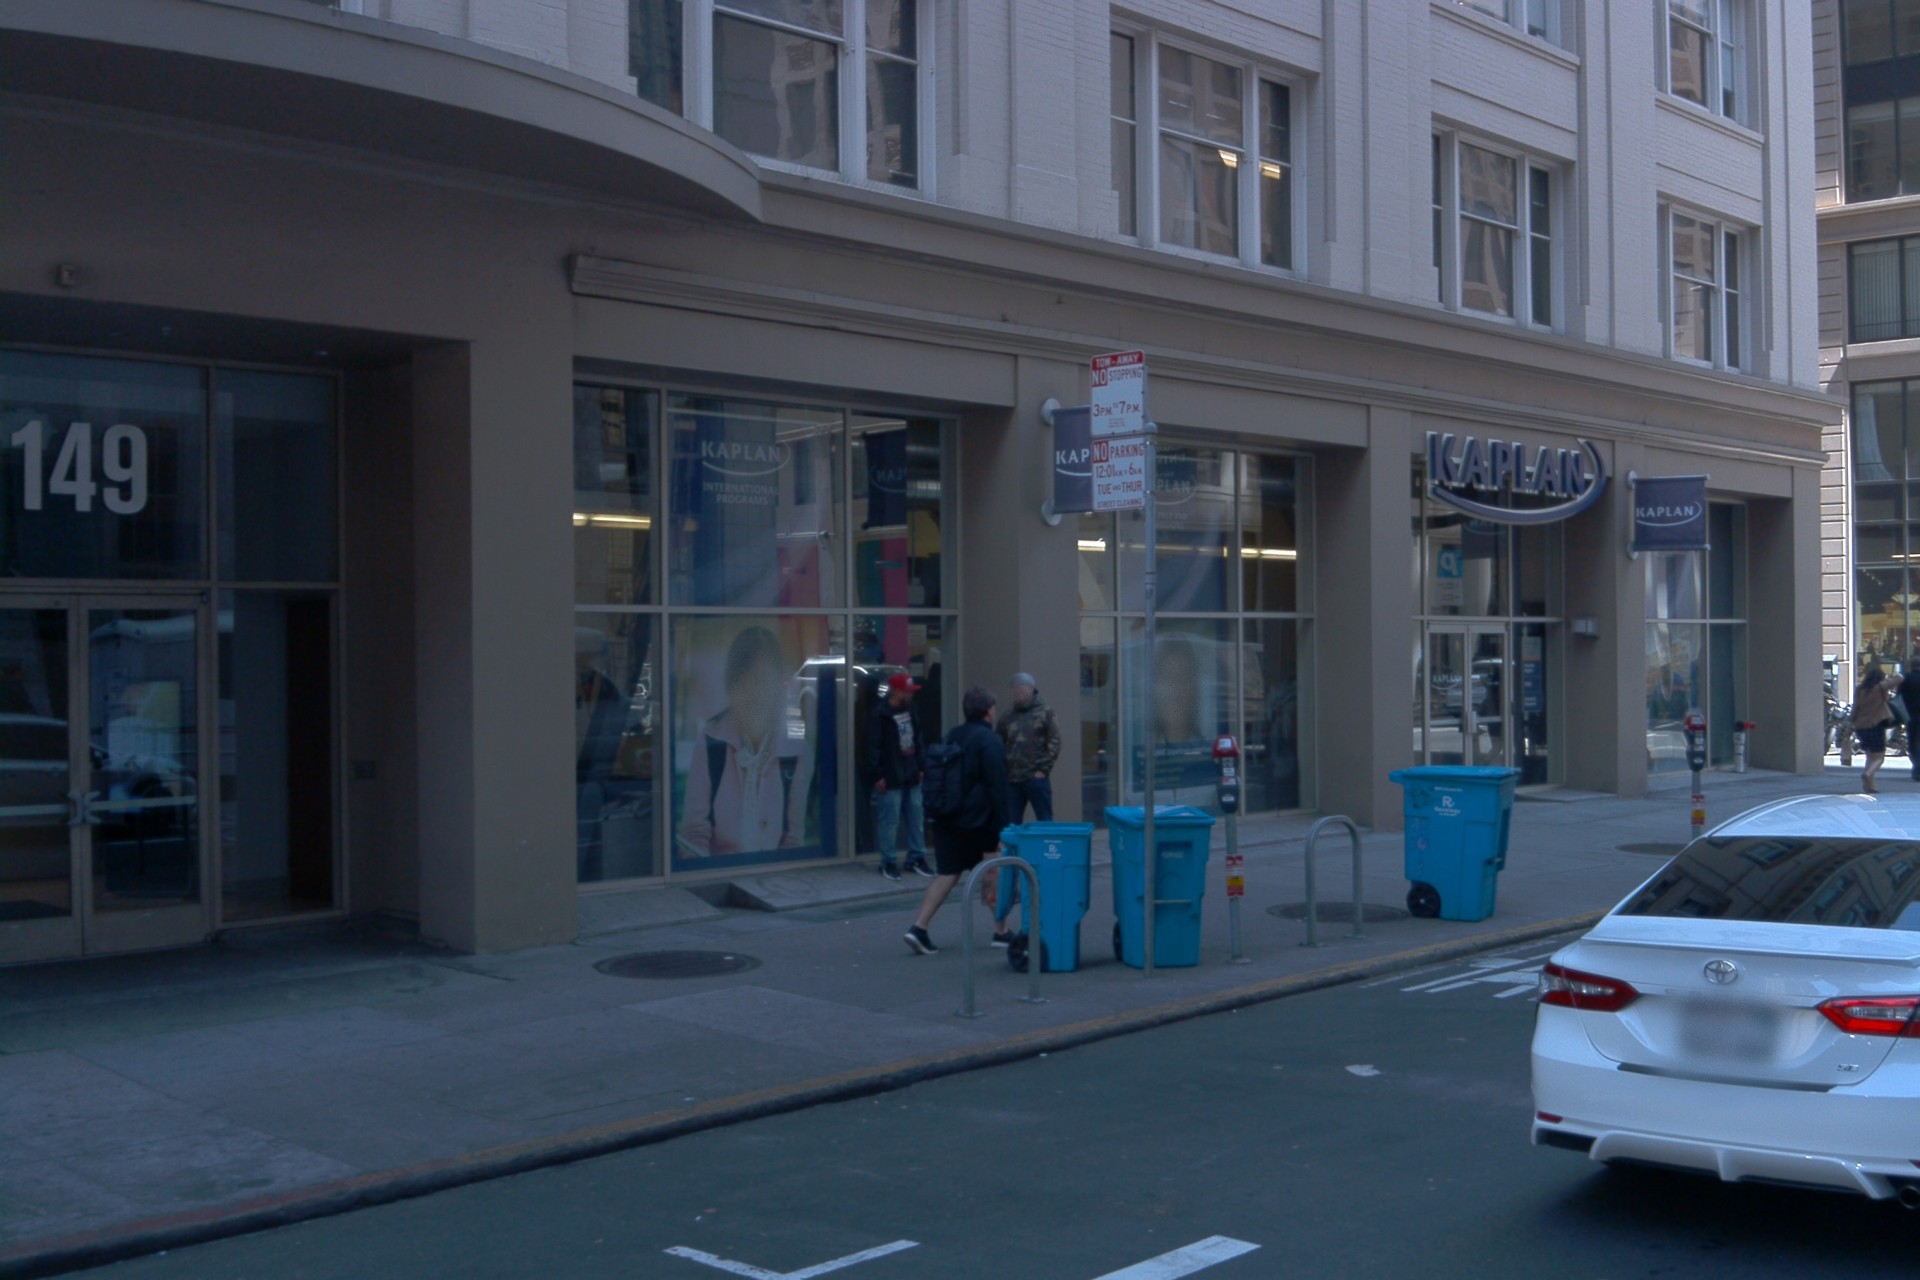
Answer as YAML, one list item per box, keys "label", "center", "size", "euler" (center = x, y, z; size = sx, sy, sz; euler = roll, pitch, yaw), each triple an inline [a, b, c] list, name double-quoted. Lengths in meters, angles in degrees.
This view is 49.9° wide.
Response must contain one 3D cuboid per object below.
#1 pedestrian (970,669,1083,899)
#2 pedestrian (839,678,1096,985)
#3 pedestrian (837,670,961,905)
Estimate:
- label: "pedestrian"
  center: [0.557, 1.166, 17.056]
  size: [0.750, 1.826, 0.723]
  euler: [0, 1, 19]
- label: "pedestrian"
  center: [0.054, 1.216, 13.764]
  size: [1.165, 1.866, 1.259]
  euler: [1, 1, 44]
- label: "pedestrian"
  center: [-0.503, 1.174, 16.837]
  size: [0.764, 1.836, 0.679]
  euler: [-1, 1, -33]
